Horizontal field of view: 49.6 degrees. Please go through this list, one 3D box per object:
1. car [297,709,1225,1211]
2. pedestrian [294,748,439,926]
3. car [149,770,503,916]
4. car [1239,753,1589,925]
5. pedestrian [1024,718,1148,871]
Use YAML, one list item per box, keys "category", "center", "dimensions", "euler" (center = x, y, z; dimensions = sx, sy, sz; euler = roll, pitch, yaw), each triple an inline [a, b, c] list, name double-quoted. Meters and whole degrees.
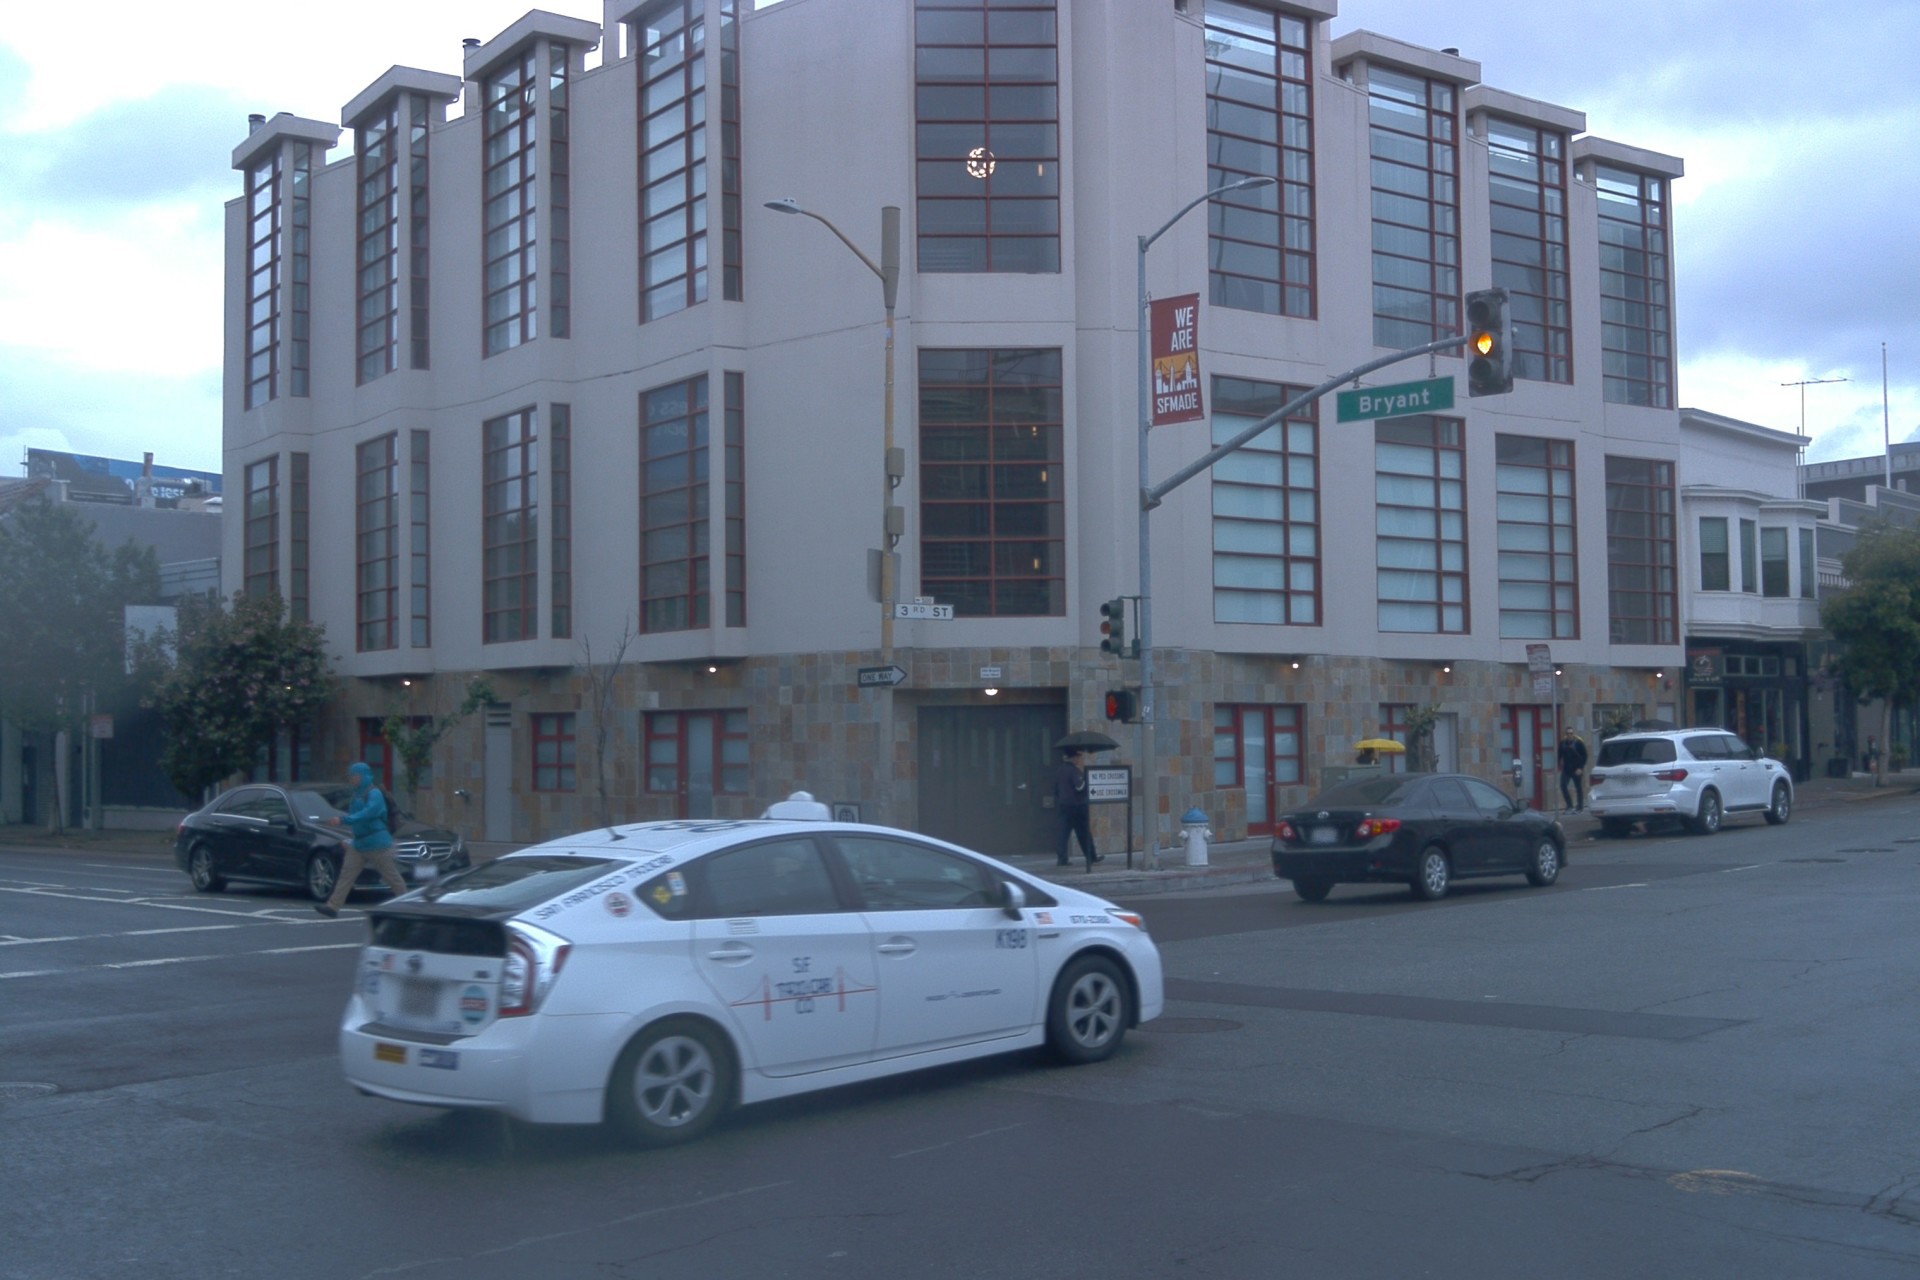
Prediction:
- category: "car"
  center: [-0.861, 1.423, 11.111]
  dimensions: [4.683, 1.950, 2.061]
  euler: [0, 0, -45]
- category: "pedestrian"
  center: [-6.493, 2.124, 22.761]
  dimensions: [0.924, 1.810, 1.235]
  euler: [0, 0, 45]
- category: "car"
  center: [-8.260, 2.537, 26.868]
  dimensions: [4.853, 1.410, 2.145]
  euler: [0, 0, 42]
- category: "car"
  center: [5.484, 2.267, 24.705]
  dimensions: [1.956, 1.590, 4.713]
  euler: [0, 0, 42]
- category: "pedestrian"
  center: [1.850, 2.241, 30.588]
  dimensions: [1.342, 2.110, 1.227]
  euler: [0, 0, -42]
